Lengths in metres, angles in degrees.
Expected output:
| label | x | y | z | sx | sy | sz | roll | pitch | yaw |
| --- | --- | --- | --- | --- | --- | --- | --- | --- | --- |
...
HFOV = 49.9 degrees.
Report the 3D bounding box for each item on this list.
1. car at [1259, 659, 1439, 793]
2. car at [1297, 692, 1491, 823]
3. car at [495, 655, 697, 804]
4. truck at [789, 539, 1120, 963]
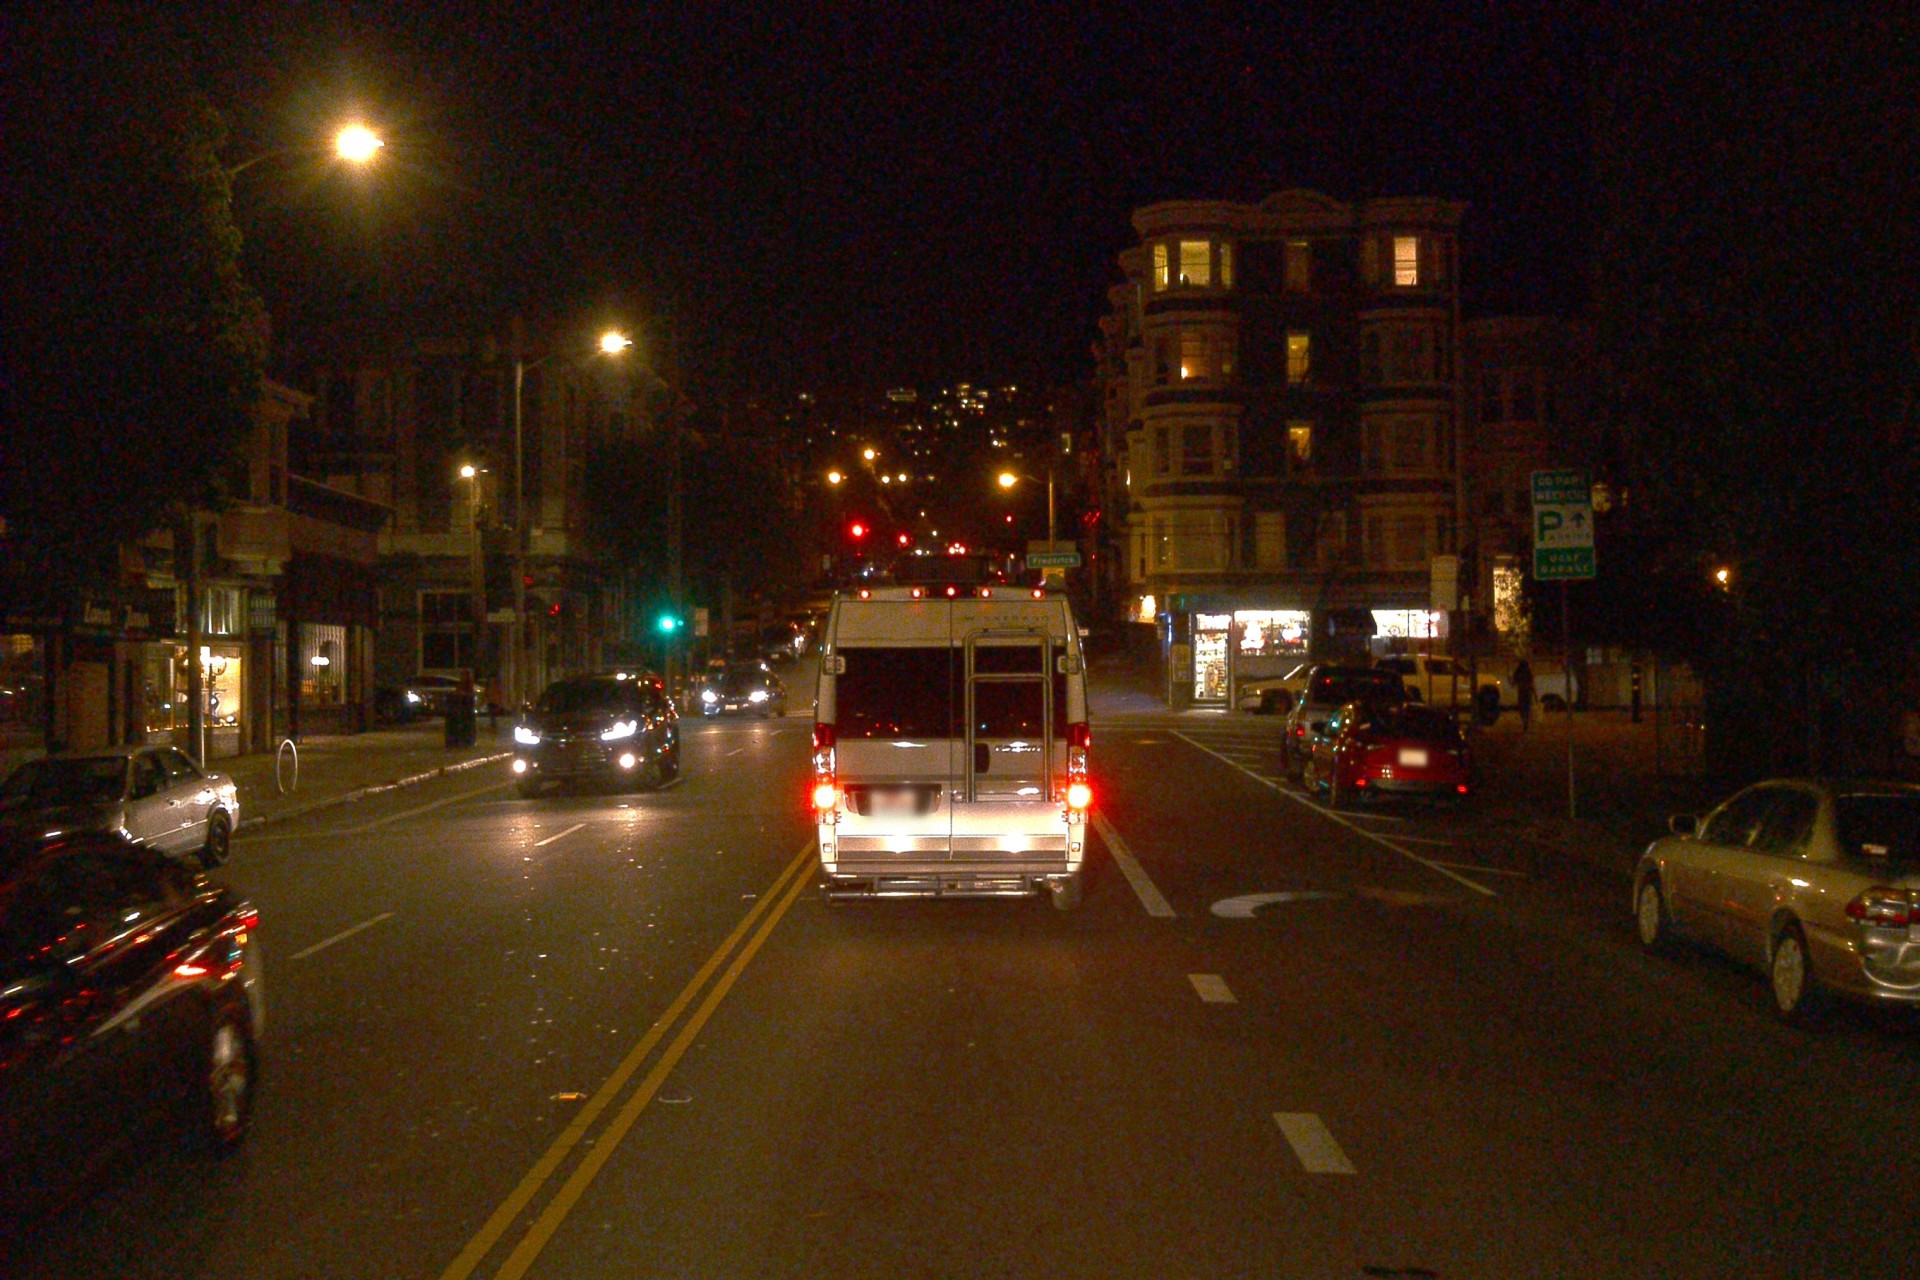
| label | x | y | z | sx | sy | sz | roll | pitch | yaw |
| --- | --- | --- | --- | --- | --- | --- | --- | --- | --- |
| car | 6.115 | 1.297 | 33.018 | 2.490 | 1.930 | 4.601 | 0 | 0 | 6 |
| car | 5.761 | 1.517 | 27.913 | 1.963 | 1.500 | 4.260 | 0 | 0 | 3 |
| car | -5.420 | 1.275 | 31.456 | 2.150 | 2.043 | 4.863 | 0 | 0 | 1 |
| truck | -0.016 | 0.774 | 17.187 | 2.338 | 3.000 | 5.110 | 0 | 0 | 1 |
